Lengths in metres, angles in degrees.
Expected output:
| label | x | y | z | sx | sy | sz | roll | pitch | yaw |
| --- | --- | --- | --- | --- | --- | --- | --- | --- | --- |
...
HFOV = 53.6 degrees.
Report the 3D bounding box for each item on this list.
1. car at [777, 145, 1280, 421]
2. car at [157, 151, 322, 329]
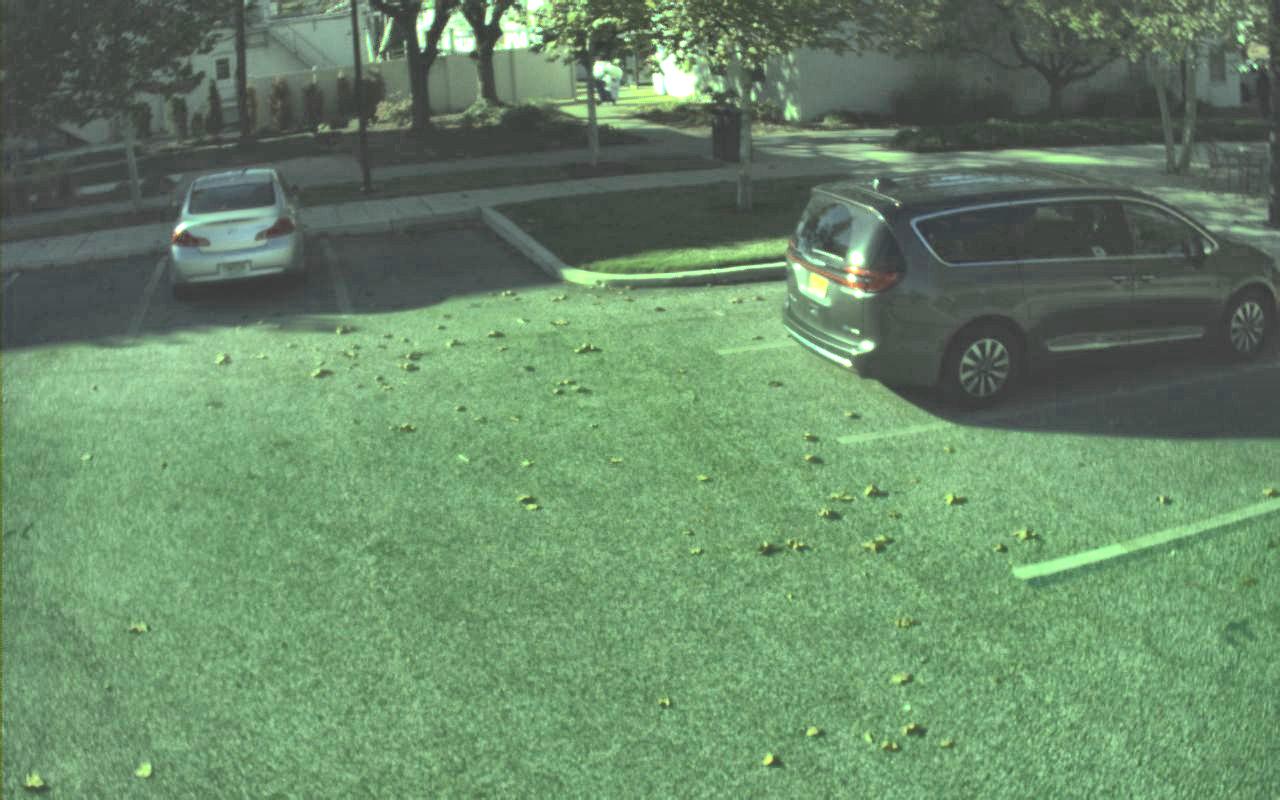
| label | x | y | z | sx | sy | sz | roll | pitch | yaw |
| --- | --- | --- | --- | --- | --- | --- | --- | --- | --- |
| car | 3.859 | -1.247 | 10.607 | 4.964 | 1.811 | 2.071 | -6 | 17 | -16 |
| car | -5.364 | -2.283 | 16.186 | 1.917 | 1.589 | 4.400 | -6 | 17 | -16 |
